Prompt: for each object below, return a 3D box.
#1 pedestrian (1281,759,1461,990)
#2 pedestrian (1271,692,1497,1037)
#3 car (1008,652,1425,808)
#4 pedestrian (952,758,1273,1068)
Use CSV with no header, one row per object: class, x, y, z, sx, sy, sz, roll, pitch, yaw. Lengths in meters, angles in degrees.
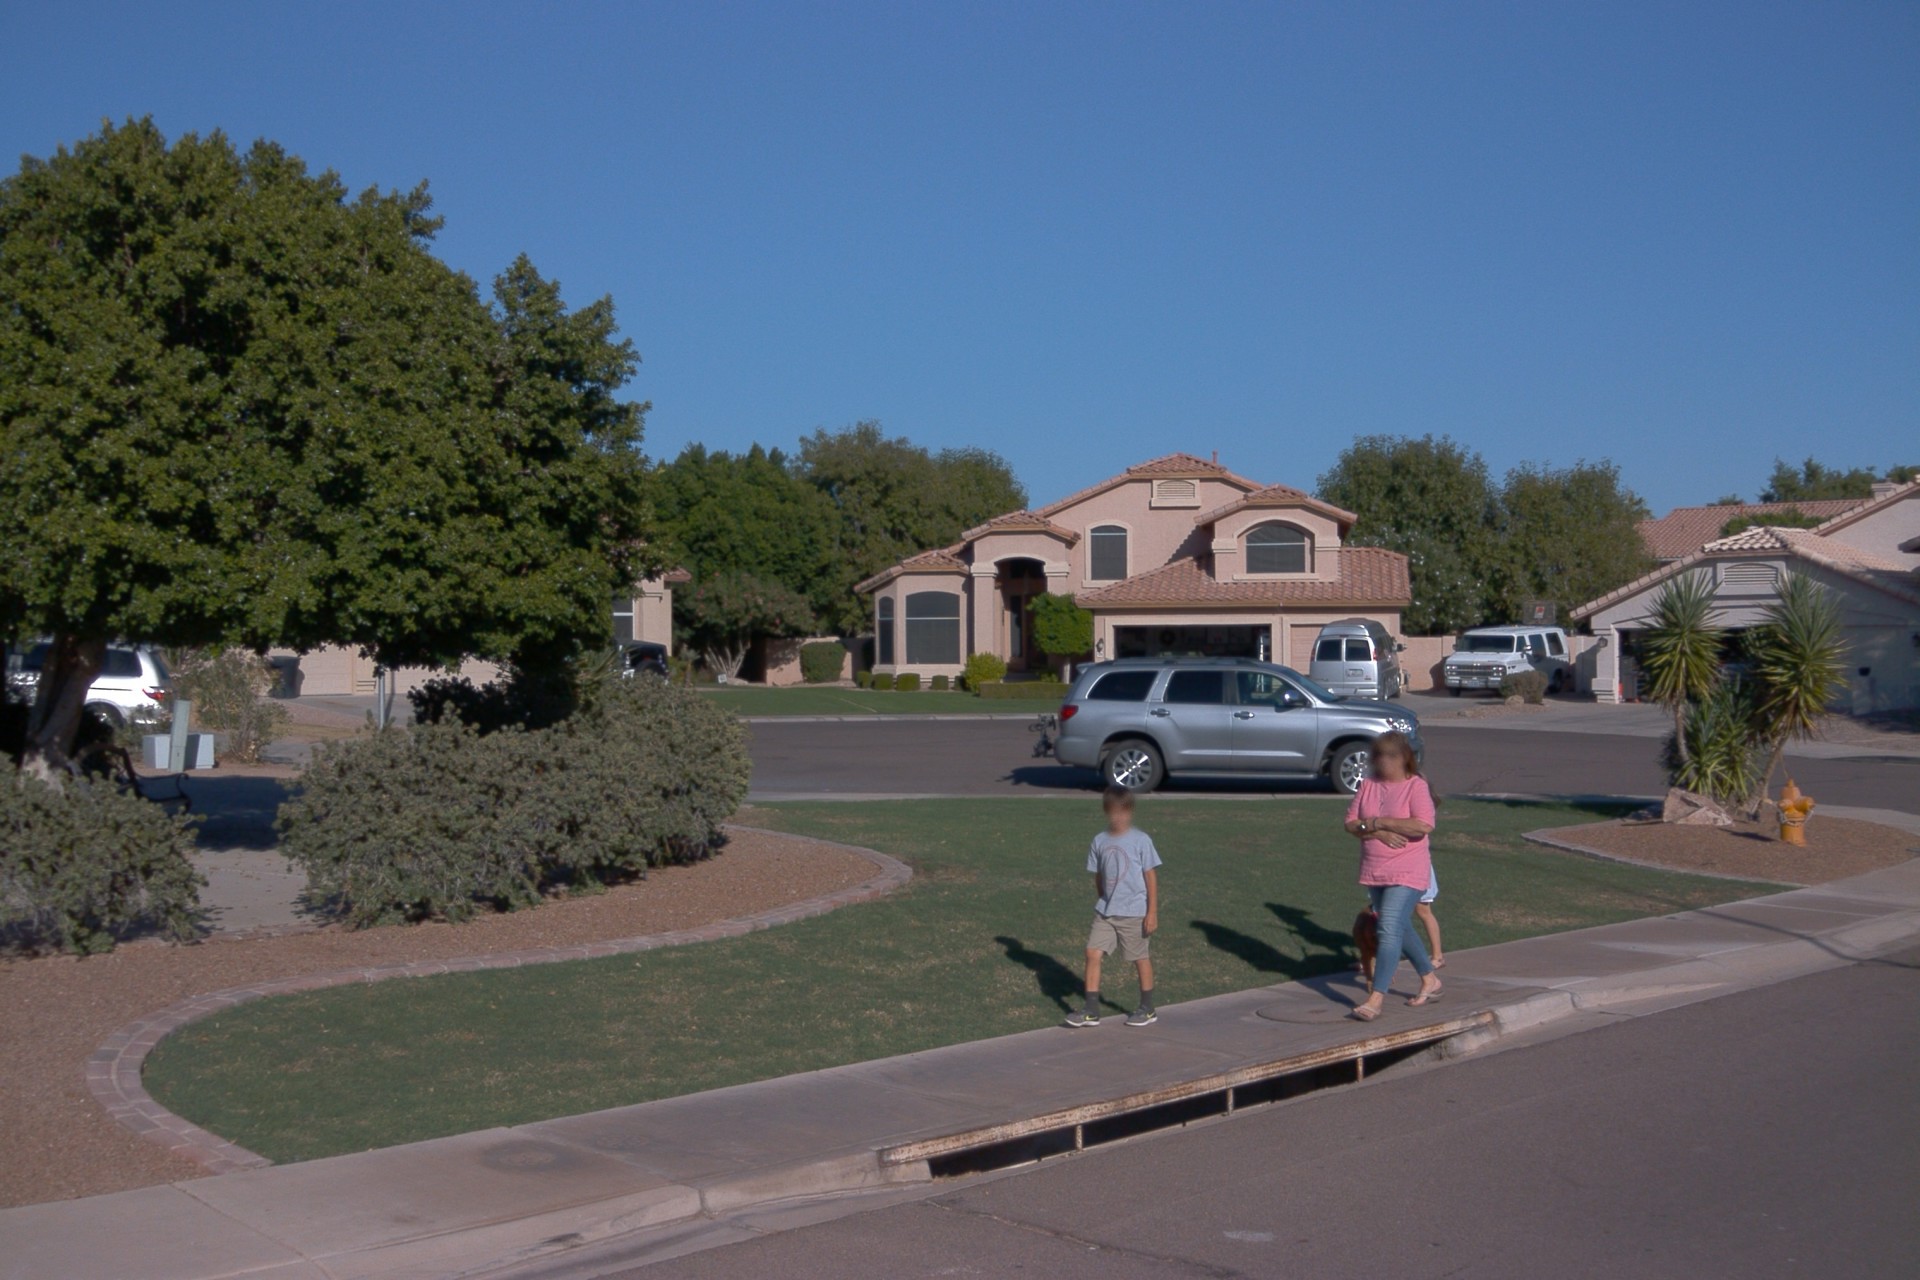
pedestrian,2.608,1.456,13.201,0.783,1.340,0.842,0,0,45
pedestrian,2.395,1.213,11.738,0.881,1.800,0.952,0,0,42
car,3.757,1.223,29.934,5.684,2.060,2.563,0,0,13
pedestrian,0.823,1.424,11.345,1.268,1.460,1.199,0,0,-39
